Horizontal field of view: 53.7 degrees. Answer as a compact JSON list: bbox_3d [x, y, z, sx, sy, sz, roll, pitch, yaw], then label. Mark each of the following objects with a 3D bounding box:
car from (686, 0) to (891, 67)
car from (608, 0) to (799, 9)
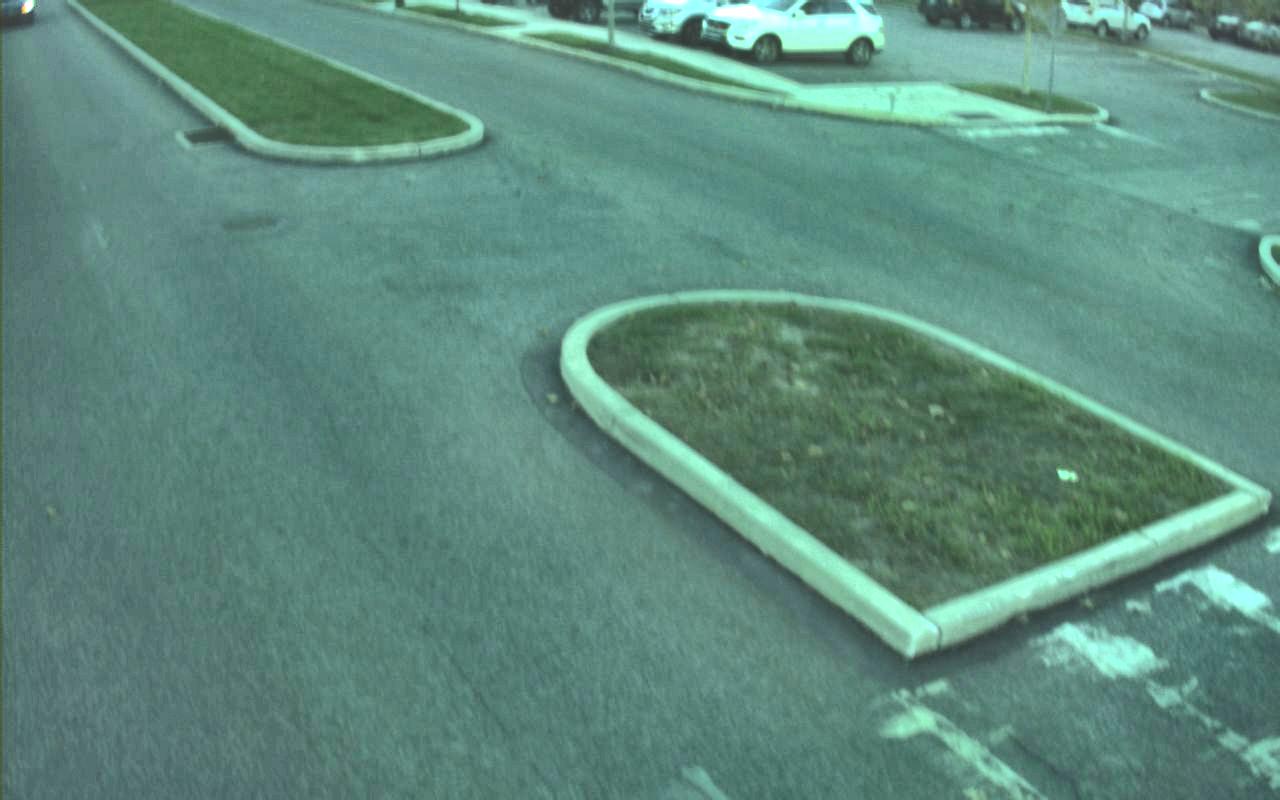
[{"bbox_3d":[3.603,-8.769,29.269,4.711,1.602,2.019,-11,18,-30],"label":"car"},{"bbox_3d":[1.650,-10.755,30.923,4.553,1.604,1.967,-10,18,-29],"label":"car"}]
